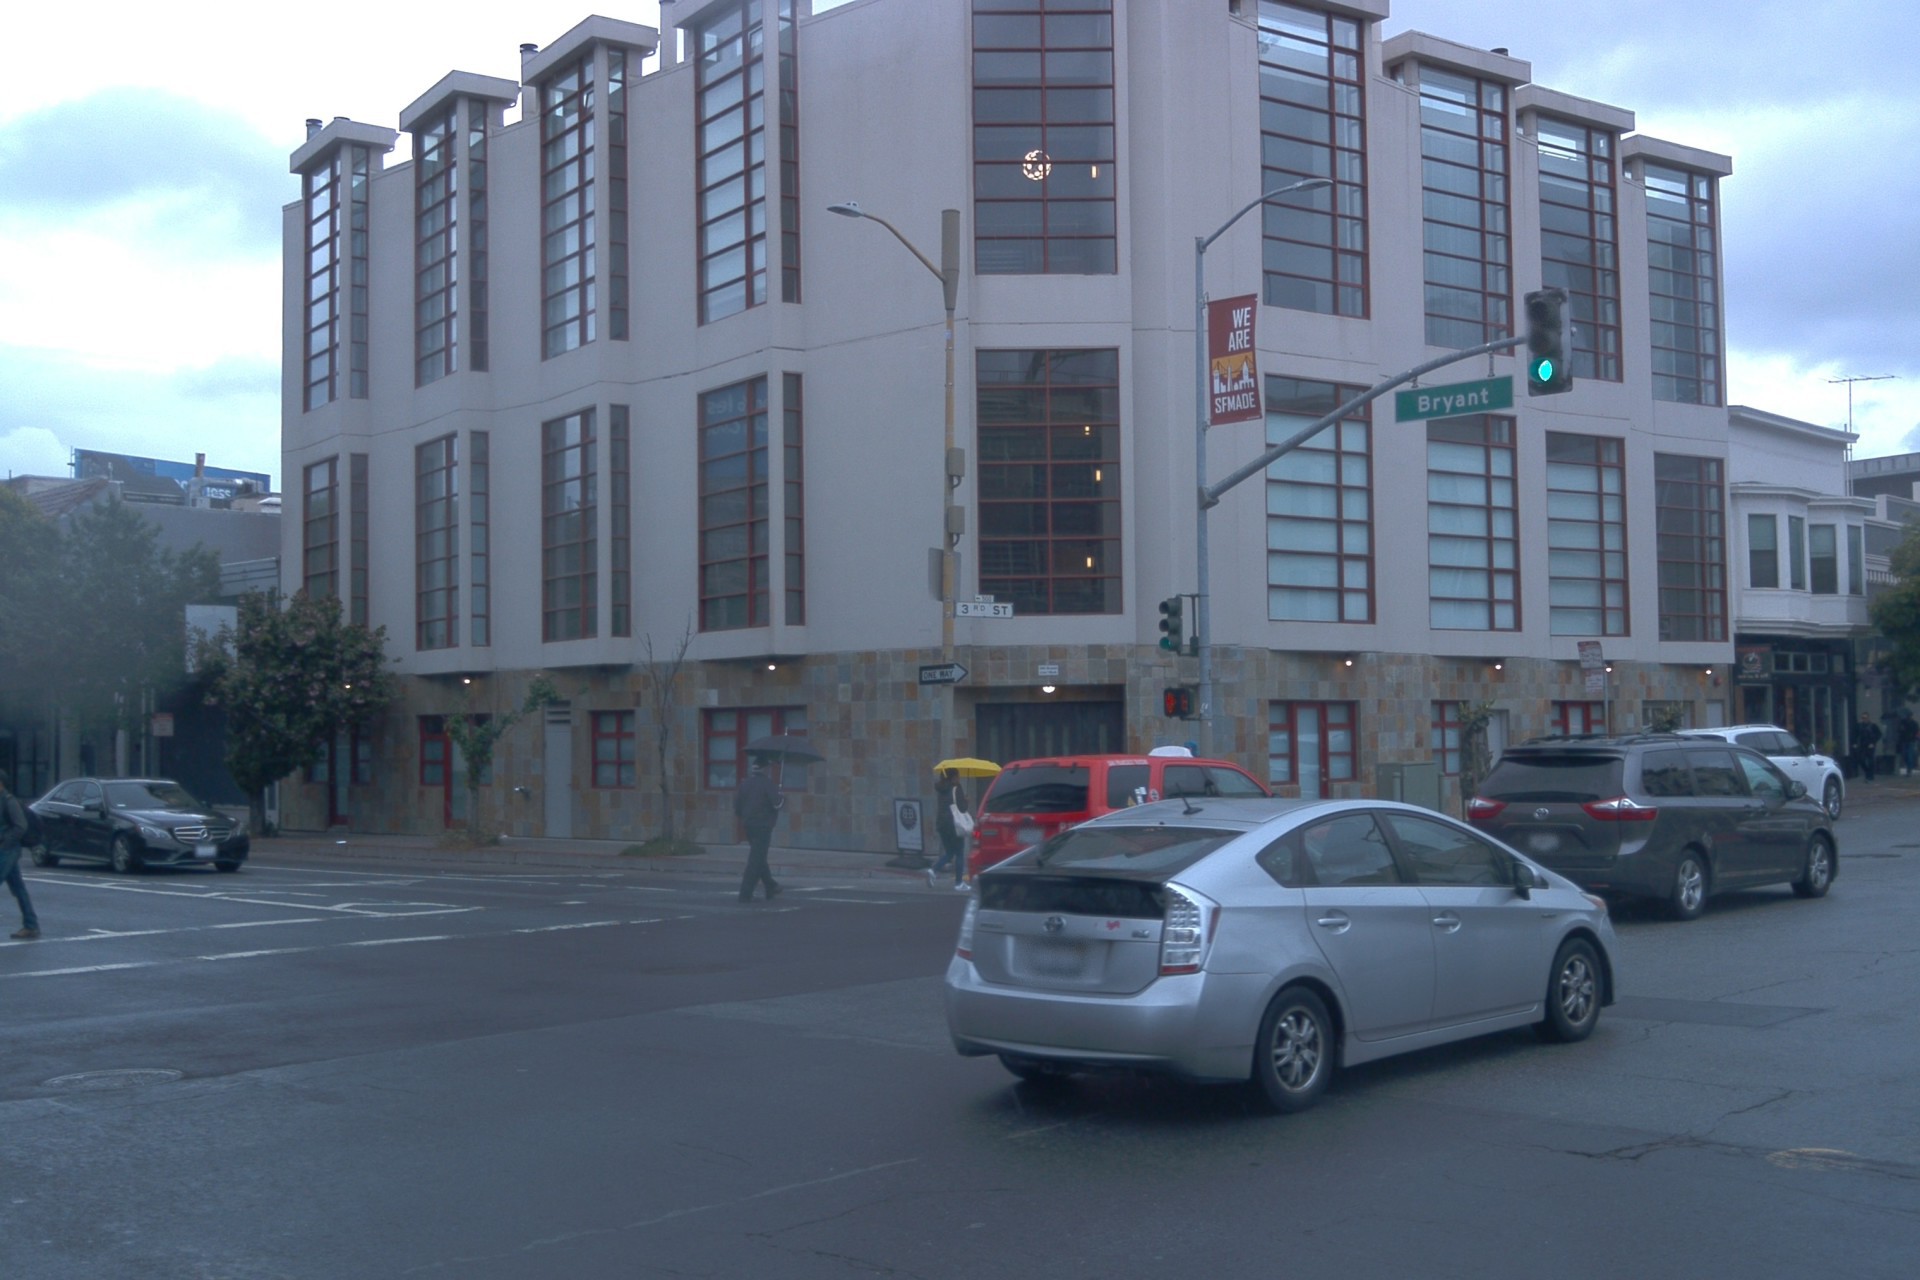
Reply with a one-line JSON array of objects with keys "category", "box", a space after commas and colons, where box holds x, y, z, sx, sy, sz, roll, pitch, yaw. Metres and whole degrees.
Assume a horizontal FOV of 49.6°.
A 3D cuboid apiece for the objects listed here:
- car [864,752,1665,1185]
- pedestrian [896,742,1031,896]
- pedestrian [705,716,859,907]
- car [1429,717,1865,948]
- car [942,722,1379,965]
[{"category": "car", "box": [1.866, 1.565, 11.497, 2.122, 1.640, 4.602, 0, 0, 43]}, {"category": "pedestrian", "box": [0.048, 2.314, 27.247, 1.137, 1.860, 1.362, 0, 0, 43]}, {"category": "pedestrian", "box": [-2.099, 1.984, 24.573, 1.227, 2.110, 1.342, 0, 0, 41]}, {"category": "car", "box": [7.146, 1.825, 21.281, 2.218, 1.880, 5.162, 0, 0, 44]}, {"category": "car", "box": [2.105, 1.901, 20.839, 2.023, 1.980, 4.501, 0, 0, 43]}]
